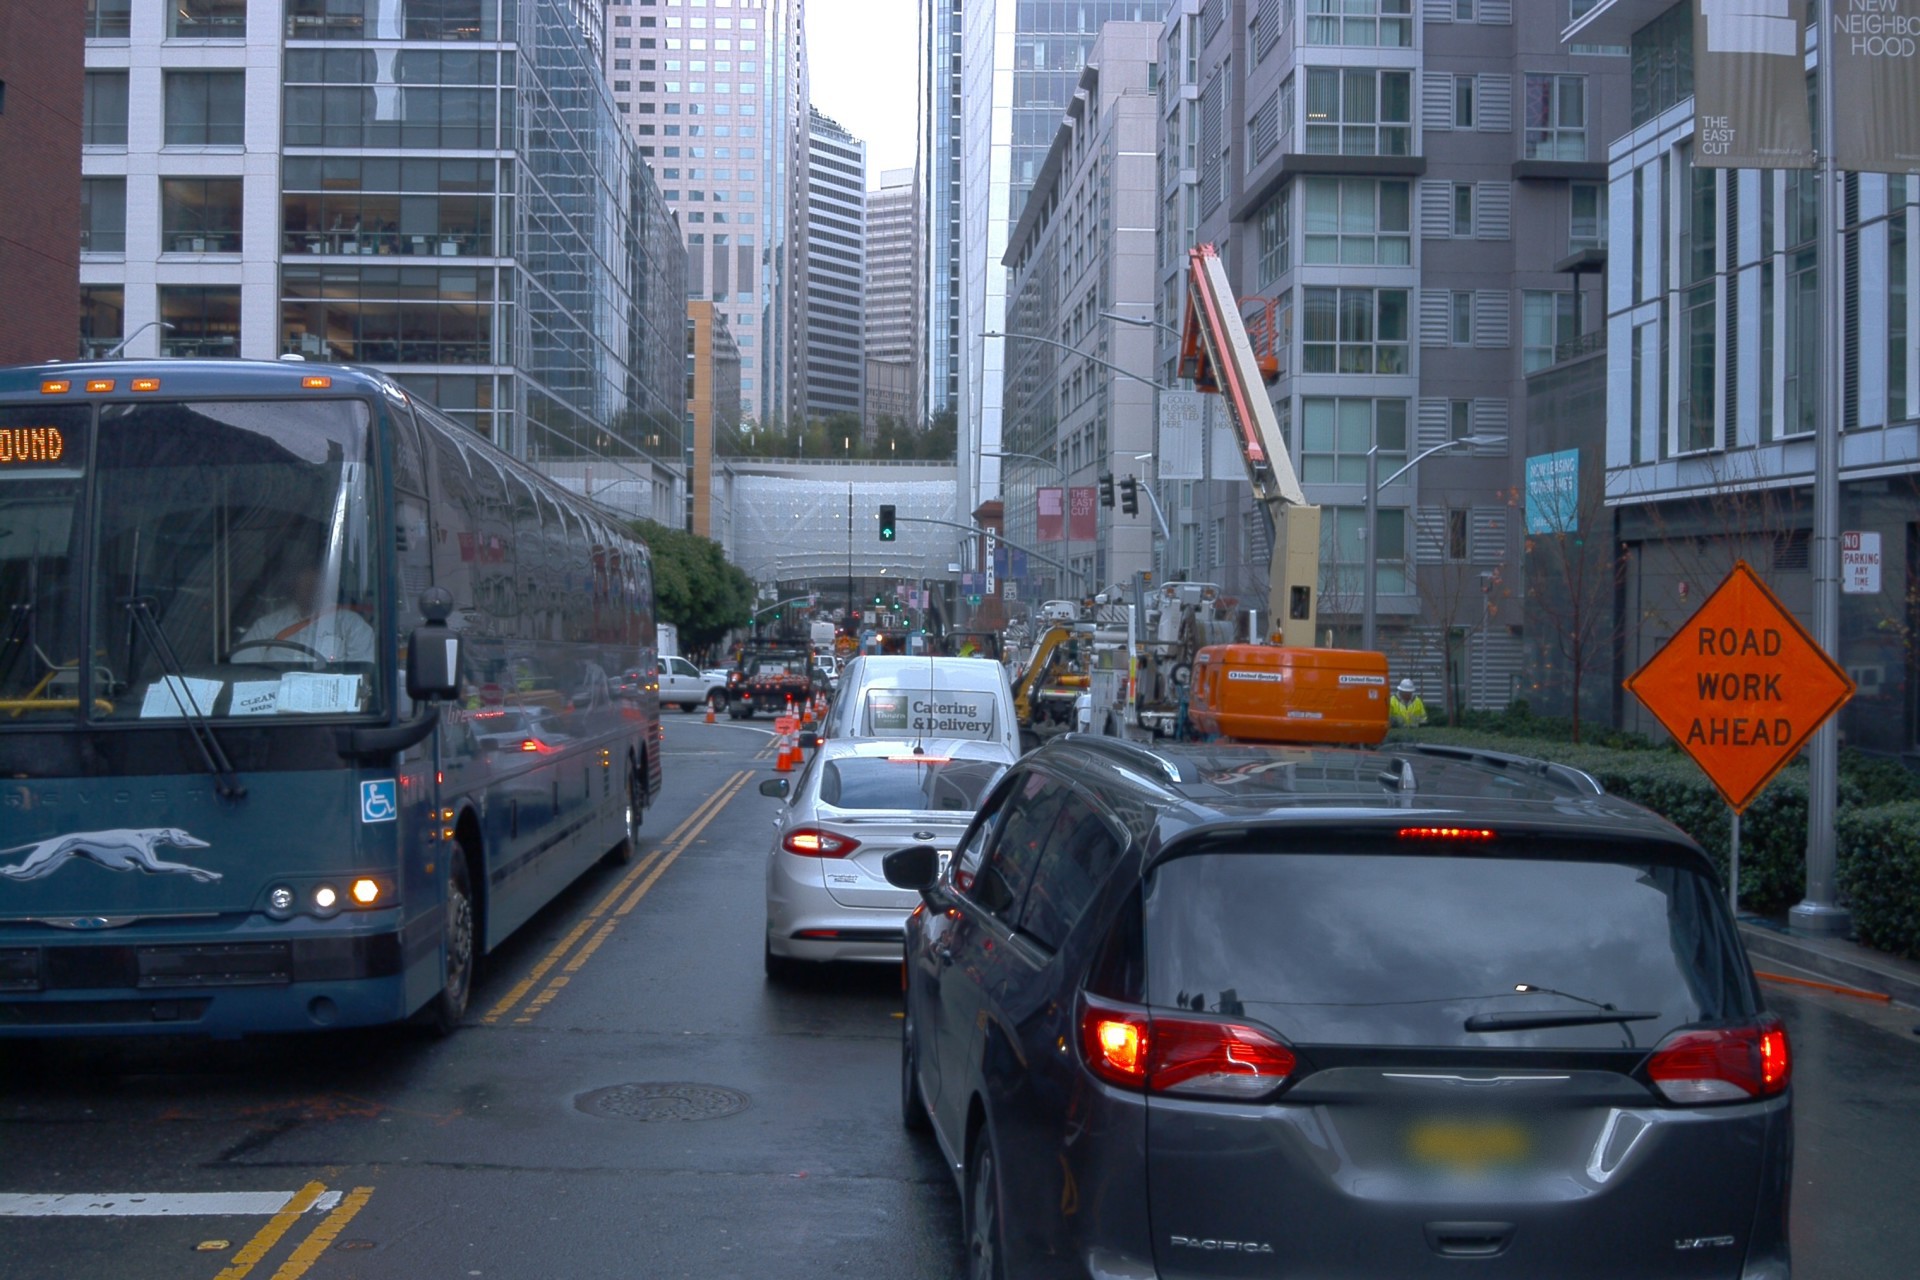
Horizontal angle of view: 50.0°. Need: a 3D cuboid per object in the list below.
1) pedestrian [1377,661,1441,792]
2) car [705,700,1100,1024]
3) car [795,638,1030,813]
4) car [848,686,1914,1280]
[{"bbox_3d":[6.841,1.310,31.415,0.822,1.949,0.618,1,0,2],"label":"pedestrian"},{"bbox_3d":[-0.377,1.297,13.826,2.164,1.580,4.901,1,1,-1],"label":"car"},{"bbox_3d":[-0.541,0.742,19.508,1.860,1.470,3.431,1,1,-7],"label":"car"},{"bbox_3d":[0.802,1.114,6.811,2.058,1.750,4.787,1,1,-6],"label":"car"}]
